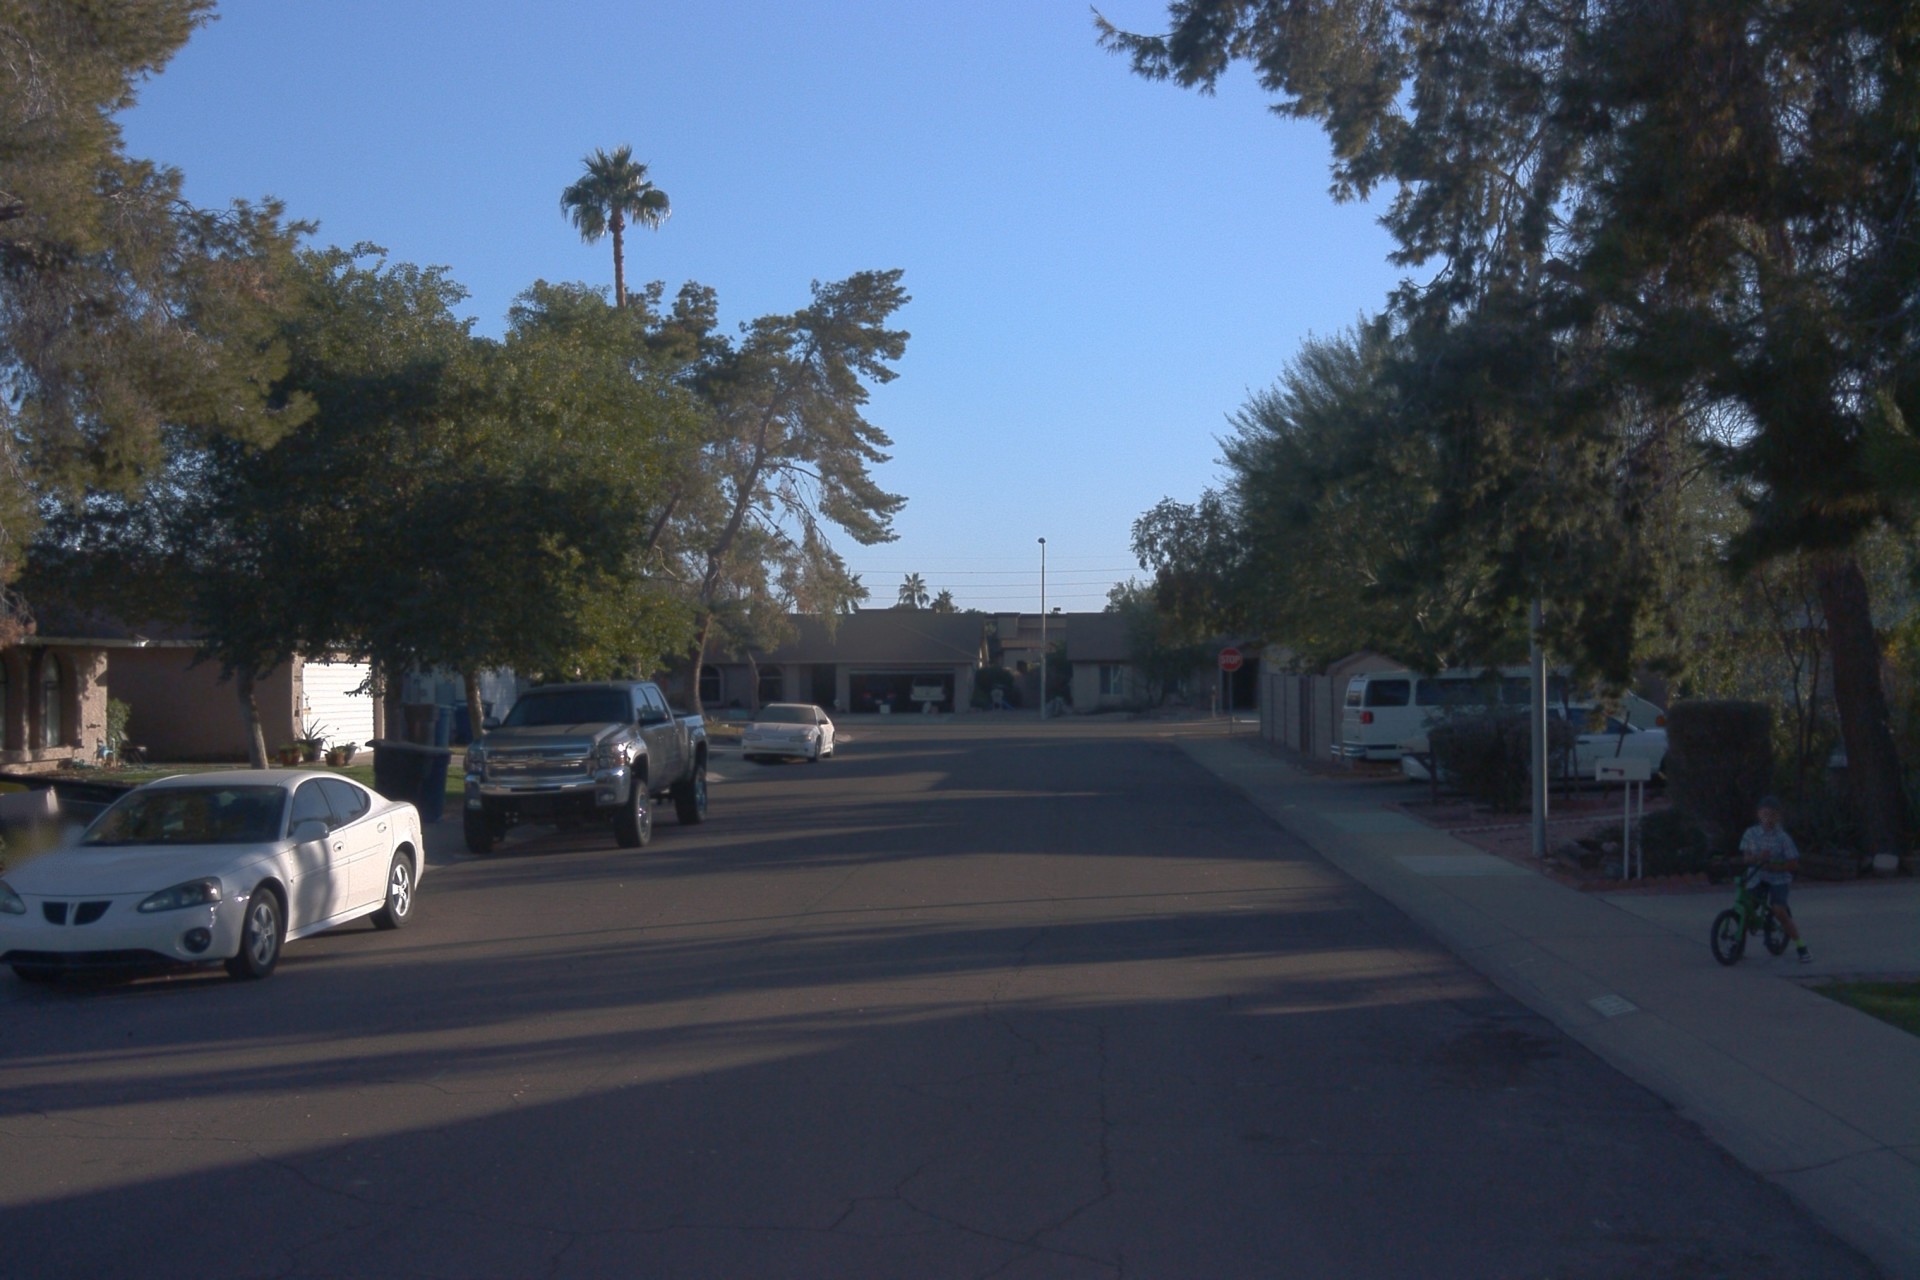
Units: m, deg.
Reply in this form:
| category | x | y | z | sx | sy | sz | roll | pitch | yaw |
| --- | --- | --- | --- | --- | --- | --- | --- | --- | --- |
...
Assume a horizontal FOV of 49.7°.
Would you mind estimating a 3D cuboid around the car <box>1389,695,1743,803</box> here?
| category | x | y | z | sx | sy | sz | roll | pitch | yaw |
| --- | --- | --- | --- | --- | --- | --- | --- | --- | --- |
| car | 9.870 | 1.760 | 34.105 | 5.230 | 1.620 | 2.194 | 1 | -1 | 4 |

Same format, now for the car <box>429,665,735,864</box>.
| category | x | y | z | sx | sy | sz | roll | pitch | yaw |
| --- | --- | --- | --- | --- | --- | --- | --- | --- | --- |
| car | -4.854 | 1.542 | 27.800 | 2.528 | 2.330 | 6.159 | 1 | -1 | 4 |

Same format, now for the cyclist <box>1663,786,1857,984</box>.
| category | x | y | z | sx | sy | sz | roll | pitch | yaw |
| --- | --- | --- | --- | --- | --- | --- | --- | --- | --- |
| cyclist | 5.706 | 1.711 | 14.763 | 1.279 | 1.280 | 0.766 | 1 | -1 | -40 |
